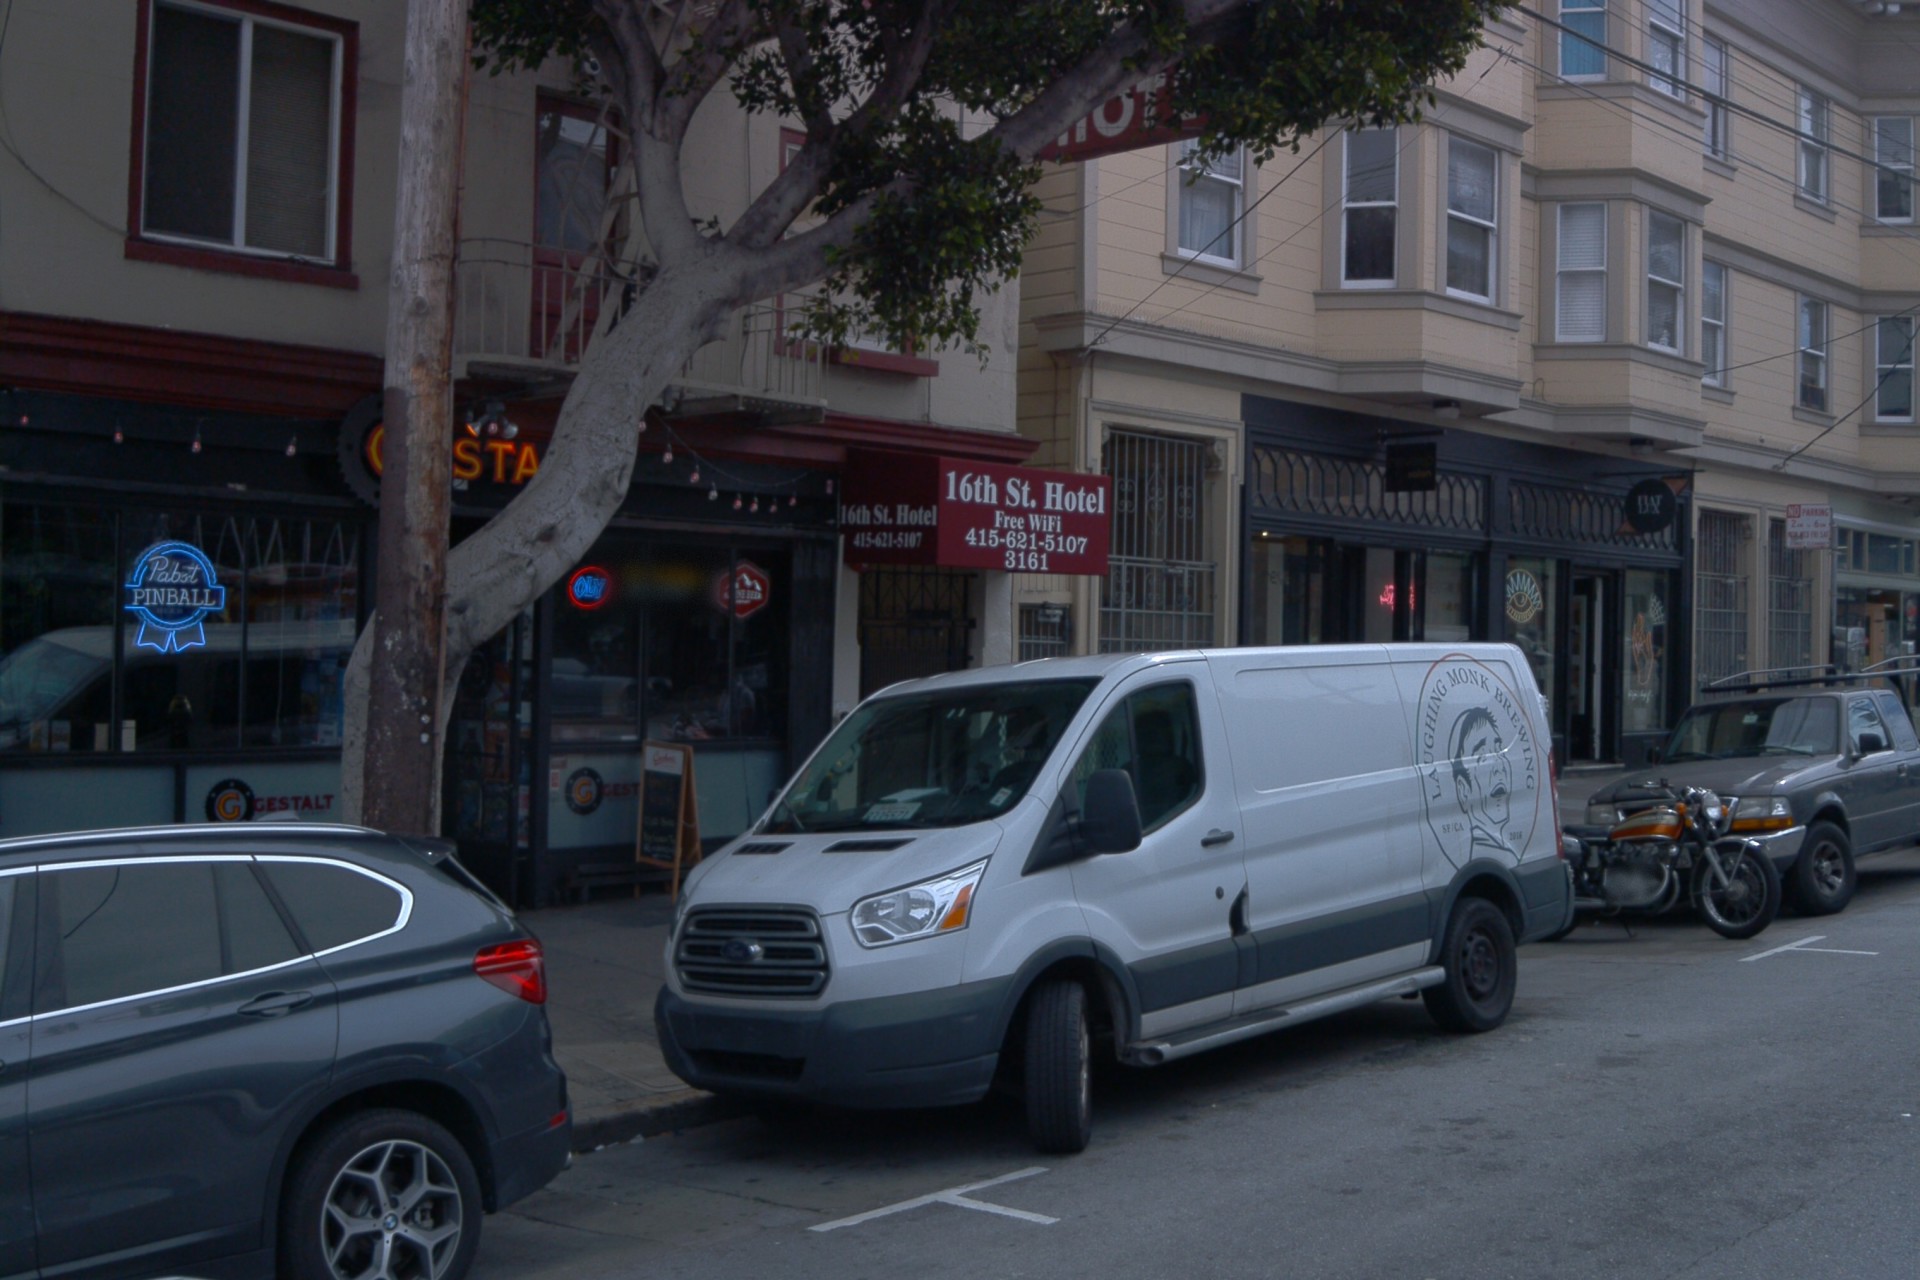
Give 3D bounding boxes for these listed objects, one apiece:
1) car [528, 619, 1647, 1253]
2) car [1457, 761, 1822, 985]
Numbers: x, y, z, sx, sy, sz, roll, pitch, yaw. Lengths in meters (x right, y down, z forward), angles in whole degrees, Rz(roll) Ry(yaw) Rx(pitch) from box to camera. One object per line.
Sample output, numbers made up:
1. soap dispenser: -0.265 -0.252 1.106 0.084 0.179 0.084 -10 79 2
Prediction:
1. car: 0.956 1.039 10.315 2.428 2.240 5.695 1 1 45
2. car: 4.706 1.567 14.406 2.225 1.270 0.945 1 1 44
